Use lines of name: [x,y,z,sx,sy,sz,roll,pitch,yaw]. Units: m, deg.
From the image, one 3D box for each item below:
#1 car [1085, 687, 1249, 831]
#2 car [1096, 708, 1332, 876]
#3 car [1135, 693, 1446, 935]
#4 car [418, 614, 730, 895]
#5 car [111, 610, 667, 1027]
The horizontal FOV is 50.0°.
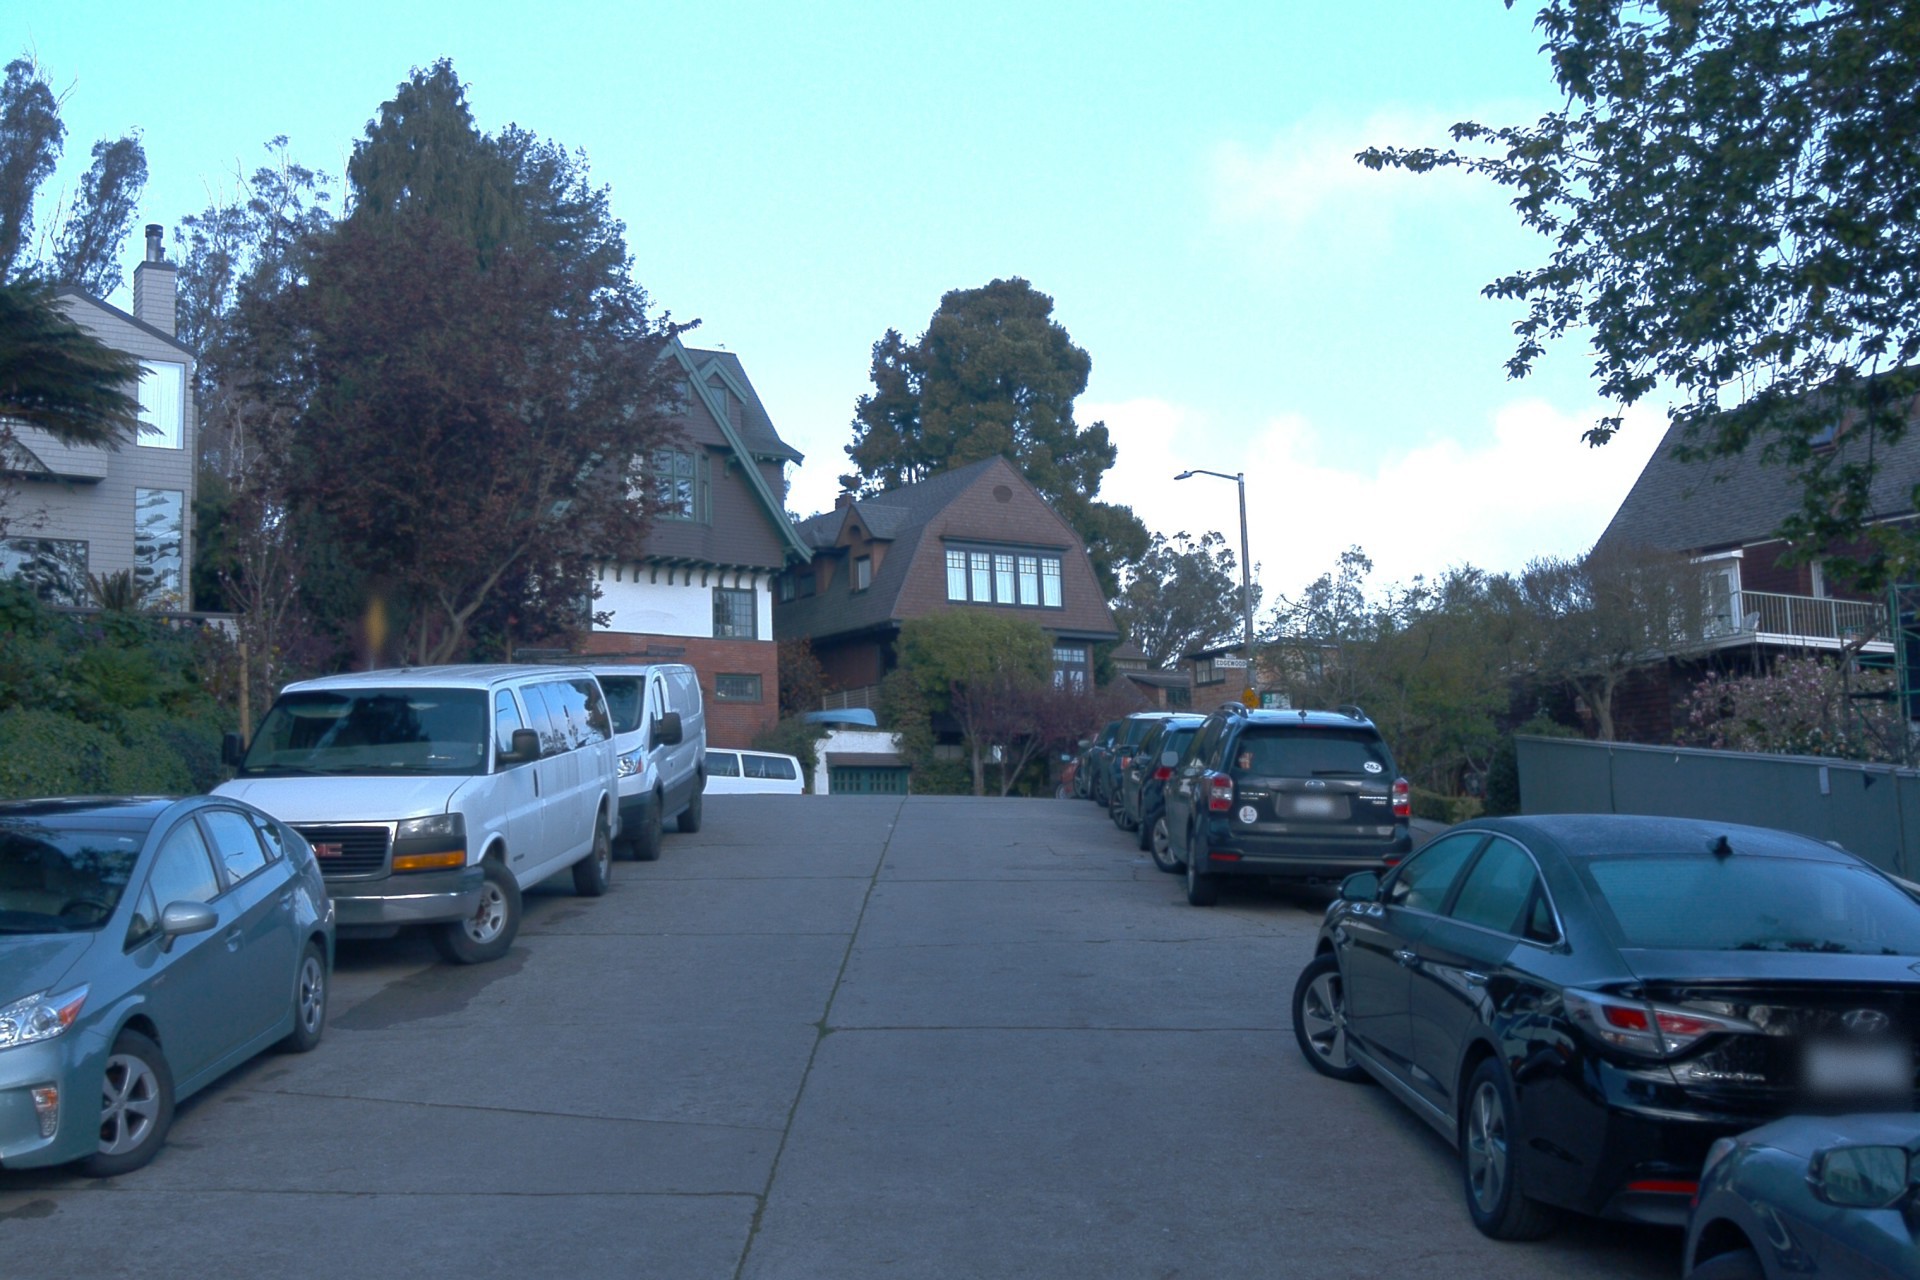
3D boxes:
car: [2.753,1.564,28.148,1.912,1.751,3.778,0,0,1]
car: [2.806,1.658,23.712,2.063,1.611,4.337,0,0,-2]
car: [2.831,1.450,18.761,2.162,1.810,4.637,0,0,1]
car: [-4.142,1.130,23.296,2.479,2.779,5.830,0,0,-1]
car: [-4.143,1.157,16.460,2.606,2.694,6.252,0,0,1]
